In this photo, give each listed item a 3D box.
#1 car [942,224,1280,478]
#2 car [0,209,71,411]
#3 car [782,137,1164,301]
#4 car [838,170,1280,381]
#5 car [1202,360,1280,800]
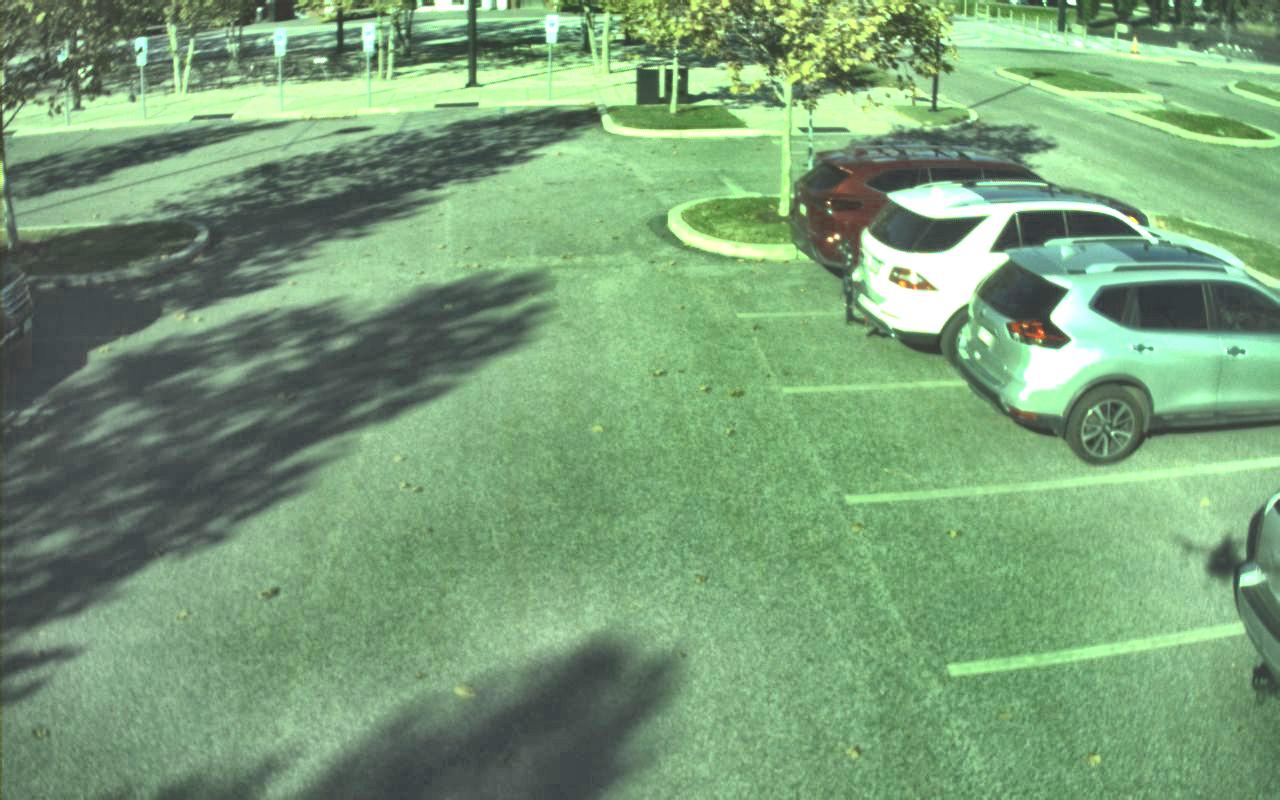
[{"bbox_3d":[5.123,-0.576,10.745,4.400,1.748,1.961,-3,16,-5],"label":"car"},{"bbox_3d":[-9.061,-1.043,12.627,4.501,1.610,1.985,-5,17,-14],"label":"car"},{"bbox_3d":[4.320,-2.430,15.846,4.692,1.765,2.026,-3,16,-7],"label":"car"},{"bbox_3d":[4.666,-1.491,13.174,4.683,1.809,2.031,-4,16,-9],"label":"car"},{"bbox_3d":[5.817,1.014,5.911,4.592,1.801,2.035,-2,16,-3],"label":"car"}]
